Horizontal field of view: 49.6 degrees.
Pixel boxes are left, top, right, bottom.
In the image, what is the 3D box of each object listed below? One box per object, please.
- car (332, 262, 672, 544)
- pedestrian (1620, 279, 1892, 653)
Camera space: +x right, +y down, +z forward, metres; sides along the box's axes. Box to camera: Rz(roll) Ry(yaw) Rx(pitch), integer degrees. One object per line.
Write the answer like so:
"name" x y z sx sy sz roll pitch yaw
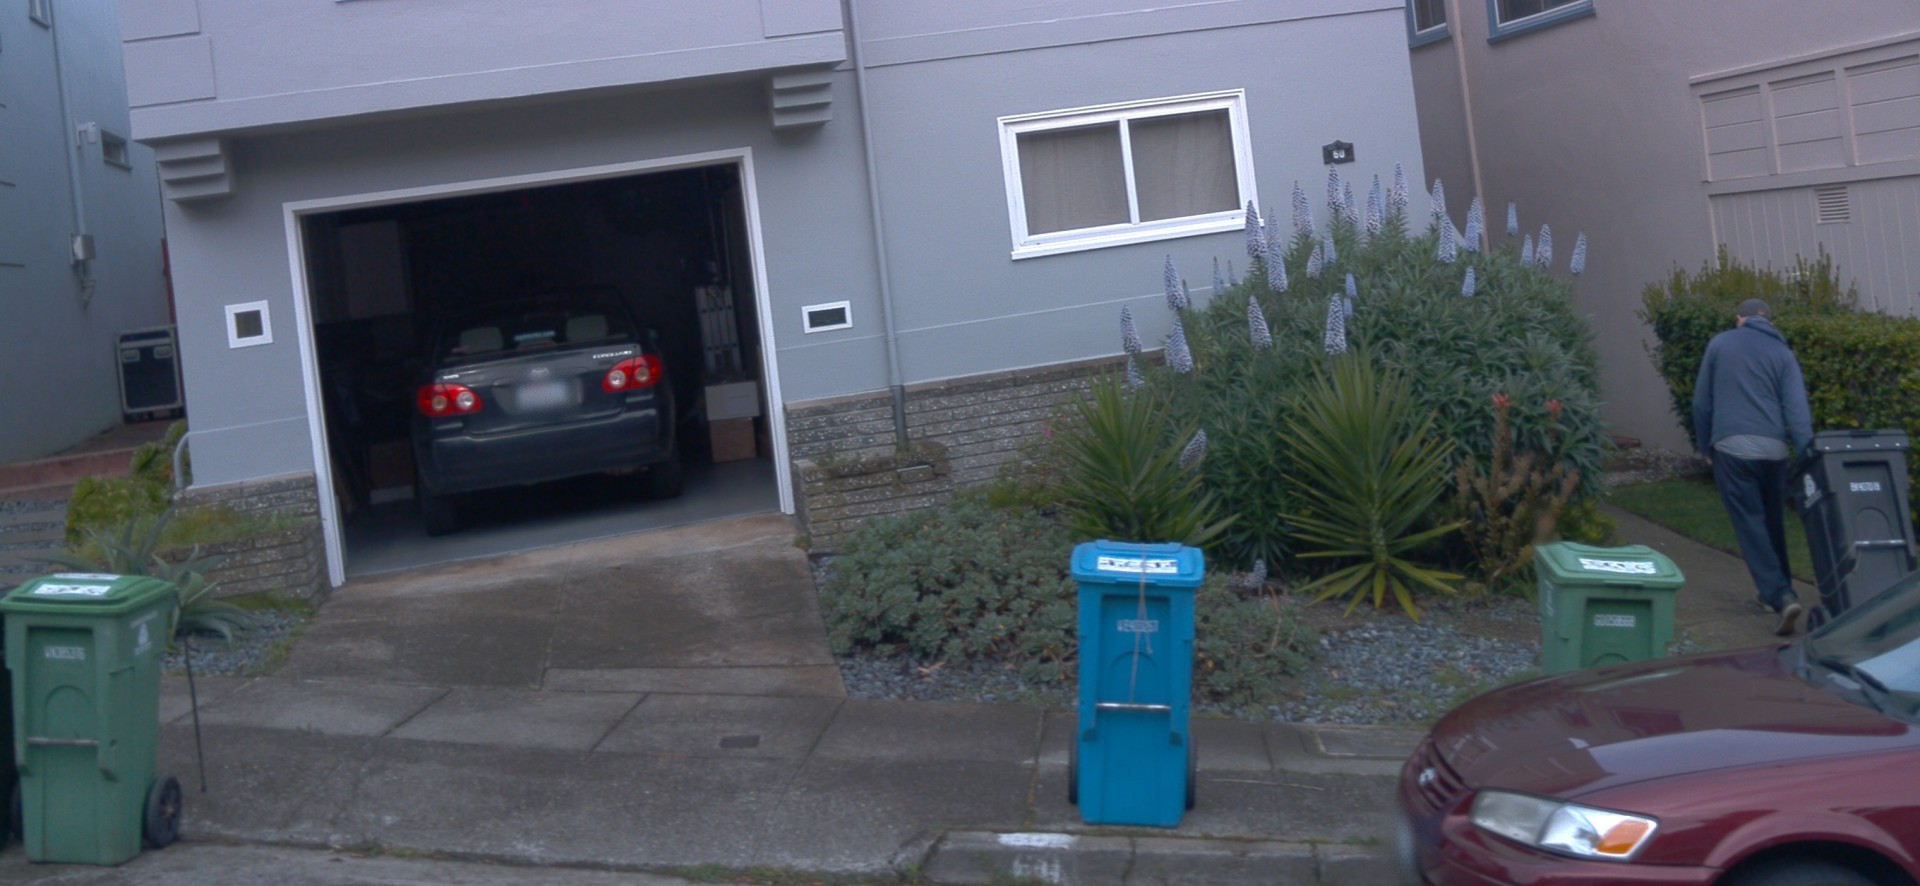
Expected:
"car" -3.172 -0.417 14.292 1.949 1.512 4.133 0 6 -14
"pedestrian" 3.951 0.069 10.399 0.999 1.726 1.005 1 2 3
